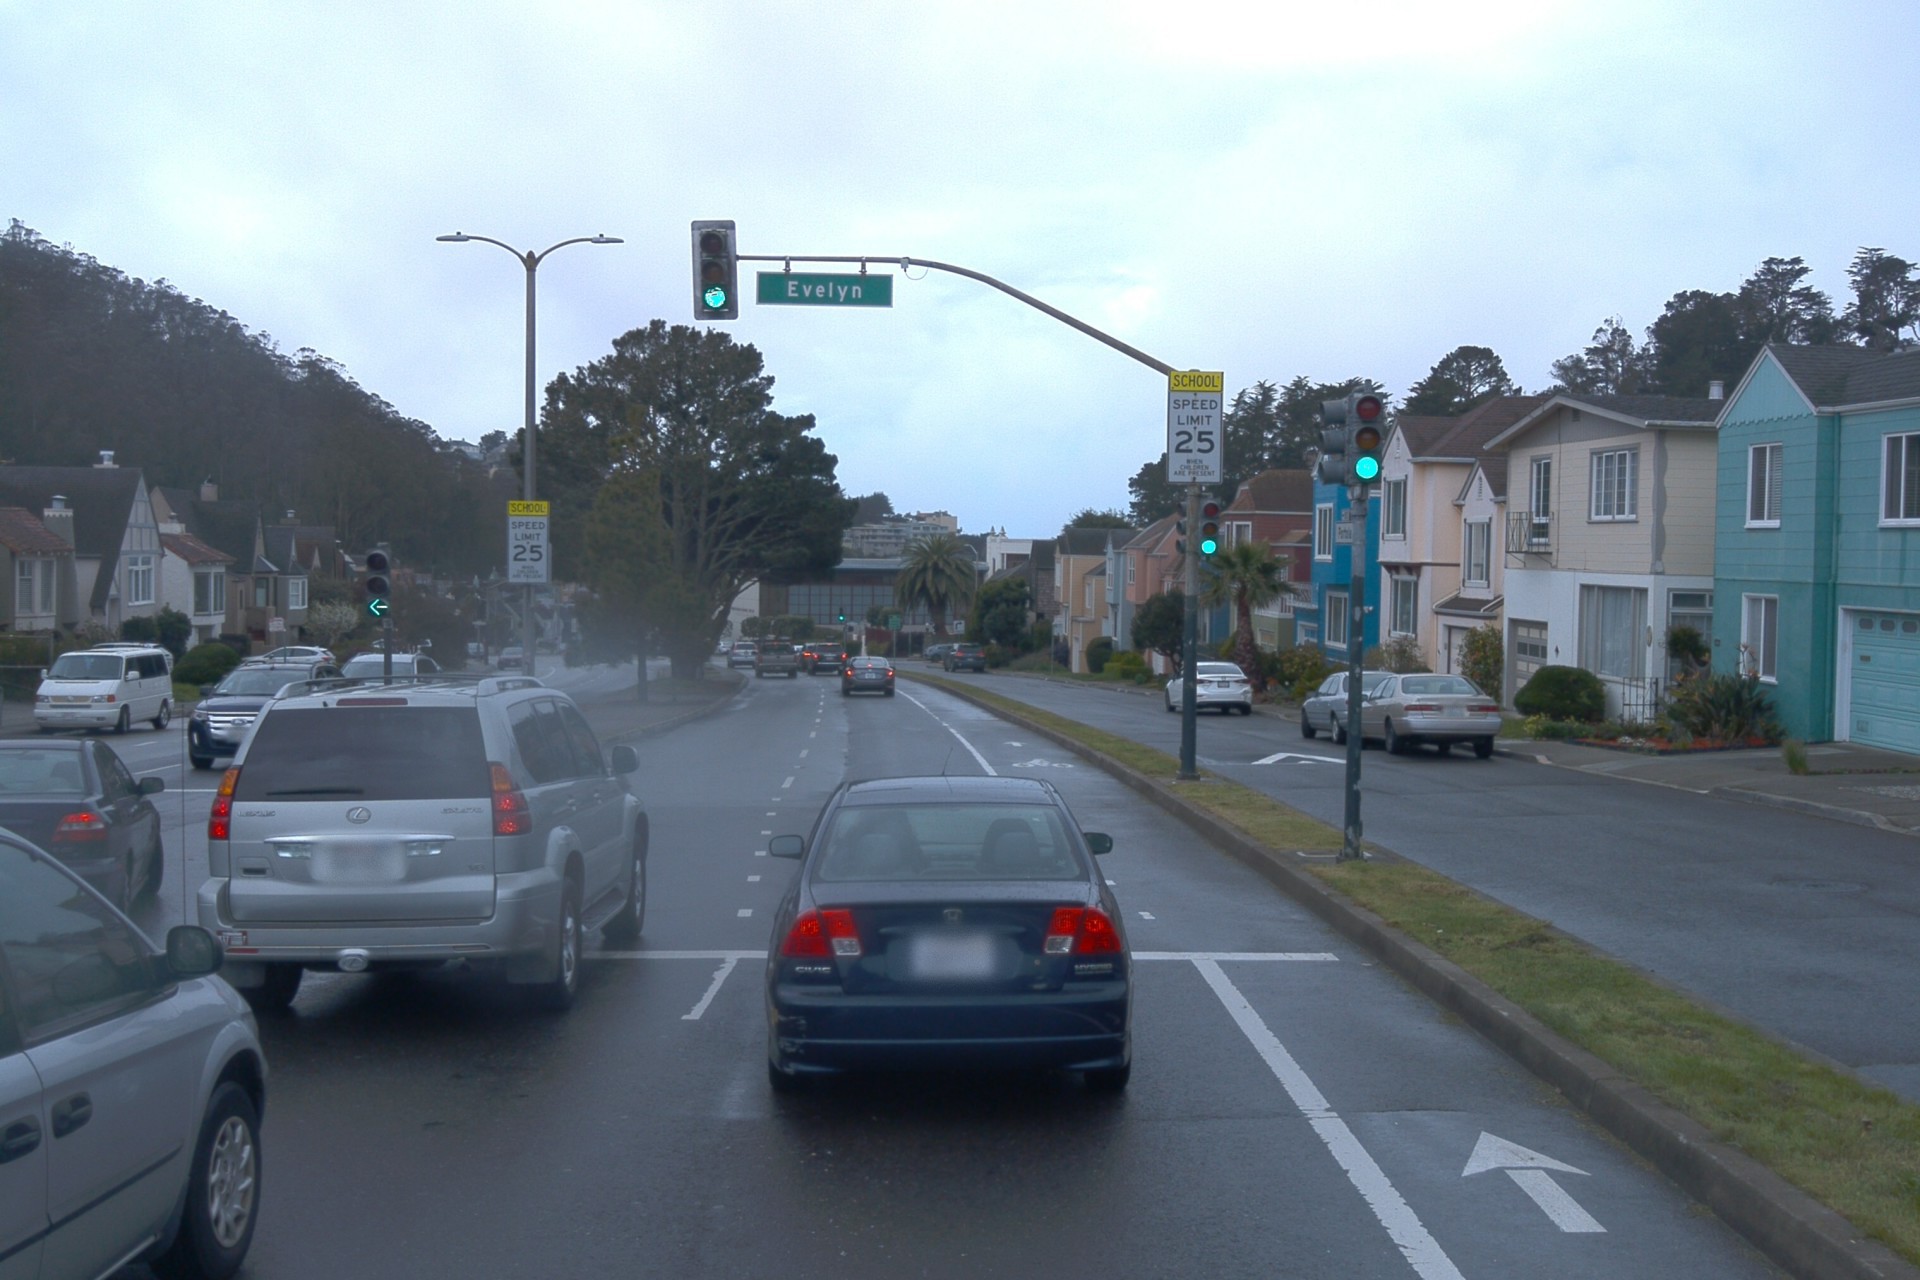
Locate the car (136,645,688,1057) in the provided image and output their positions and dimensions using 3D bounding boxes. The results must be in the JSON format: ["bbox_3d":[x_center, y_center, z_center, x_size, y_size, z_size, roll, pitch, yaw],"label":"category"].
[{"bbox_3d":[-3.090,1.075,12.830,2.250,2.070,4.733,0,0,-1],"label":"car"}]

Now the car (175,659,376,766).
[{"bbox_3d":[-11.289,1.150,34.288,2.056,1.640,4.174,0,0,-2],"label":"car"}]

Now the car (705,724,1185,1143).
[{"bbox_3d":[-0.104,1.309,10.682,2.004,1.570,4.164,0,0,-1],"label":"car"}]

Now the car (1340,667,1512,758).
[{"bbox_3d":[8.083,1.221,36.128,1.755,1.440,4.469,0,0,-4],"label":"car"}]
